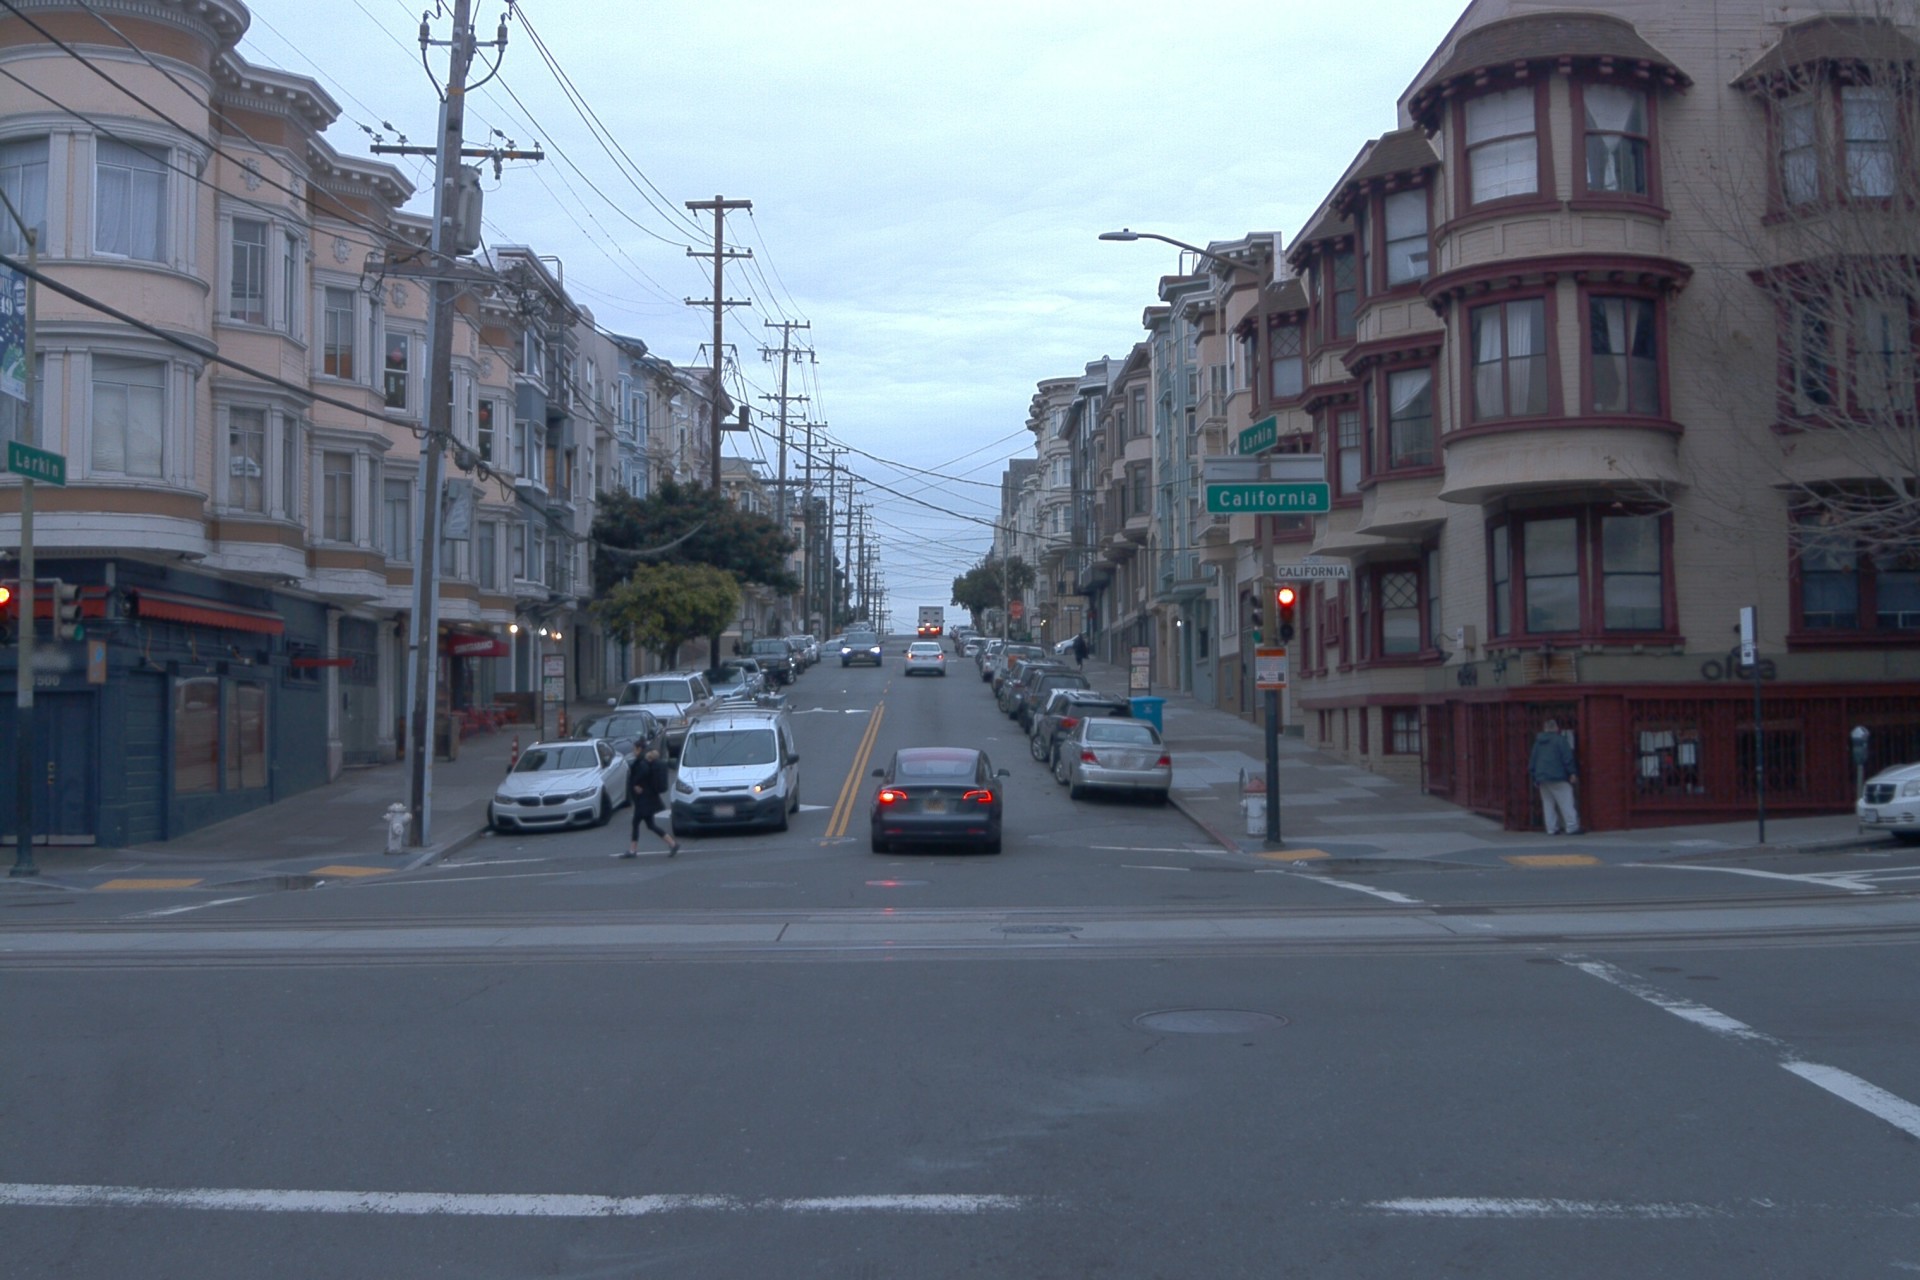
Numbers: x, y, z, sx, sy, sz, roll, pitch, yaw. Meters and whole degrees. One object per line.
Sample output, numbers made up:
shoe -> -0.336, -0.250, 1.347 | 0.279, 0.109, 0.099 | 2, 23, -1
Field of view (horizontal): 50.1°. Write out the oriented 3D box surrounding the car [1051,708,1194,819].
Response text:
car -> 2.936, 2.232, 38.183 | 2.108, 1.700, 4.470 | 0, 1, -2

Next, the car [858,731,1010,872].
car -> -0.316, 2.301, 30.335 | 2.065, 1.630, 4.718 | 0, 1, 1

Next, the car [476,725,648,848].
car -> -6.814, 2.472, 35.707 | 2.150, 1.707, 4.680 | 0, 1, -1

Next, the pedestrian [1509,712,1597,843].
pedestrian -> 8.727, 2.006, 30.267 | 0.902, 1.830, 0.919 | -1, 1, -44

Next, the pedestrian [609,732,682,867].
pedestrian -> -4.432, 2.237, 28.996 | 0.943, 1.820, 0.722 | 0, 1, -3

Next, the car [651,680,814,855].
car -> -3.621, 1.982, 33.587 | 2.196, 2.490, 4.690 | 0, 1, -1
